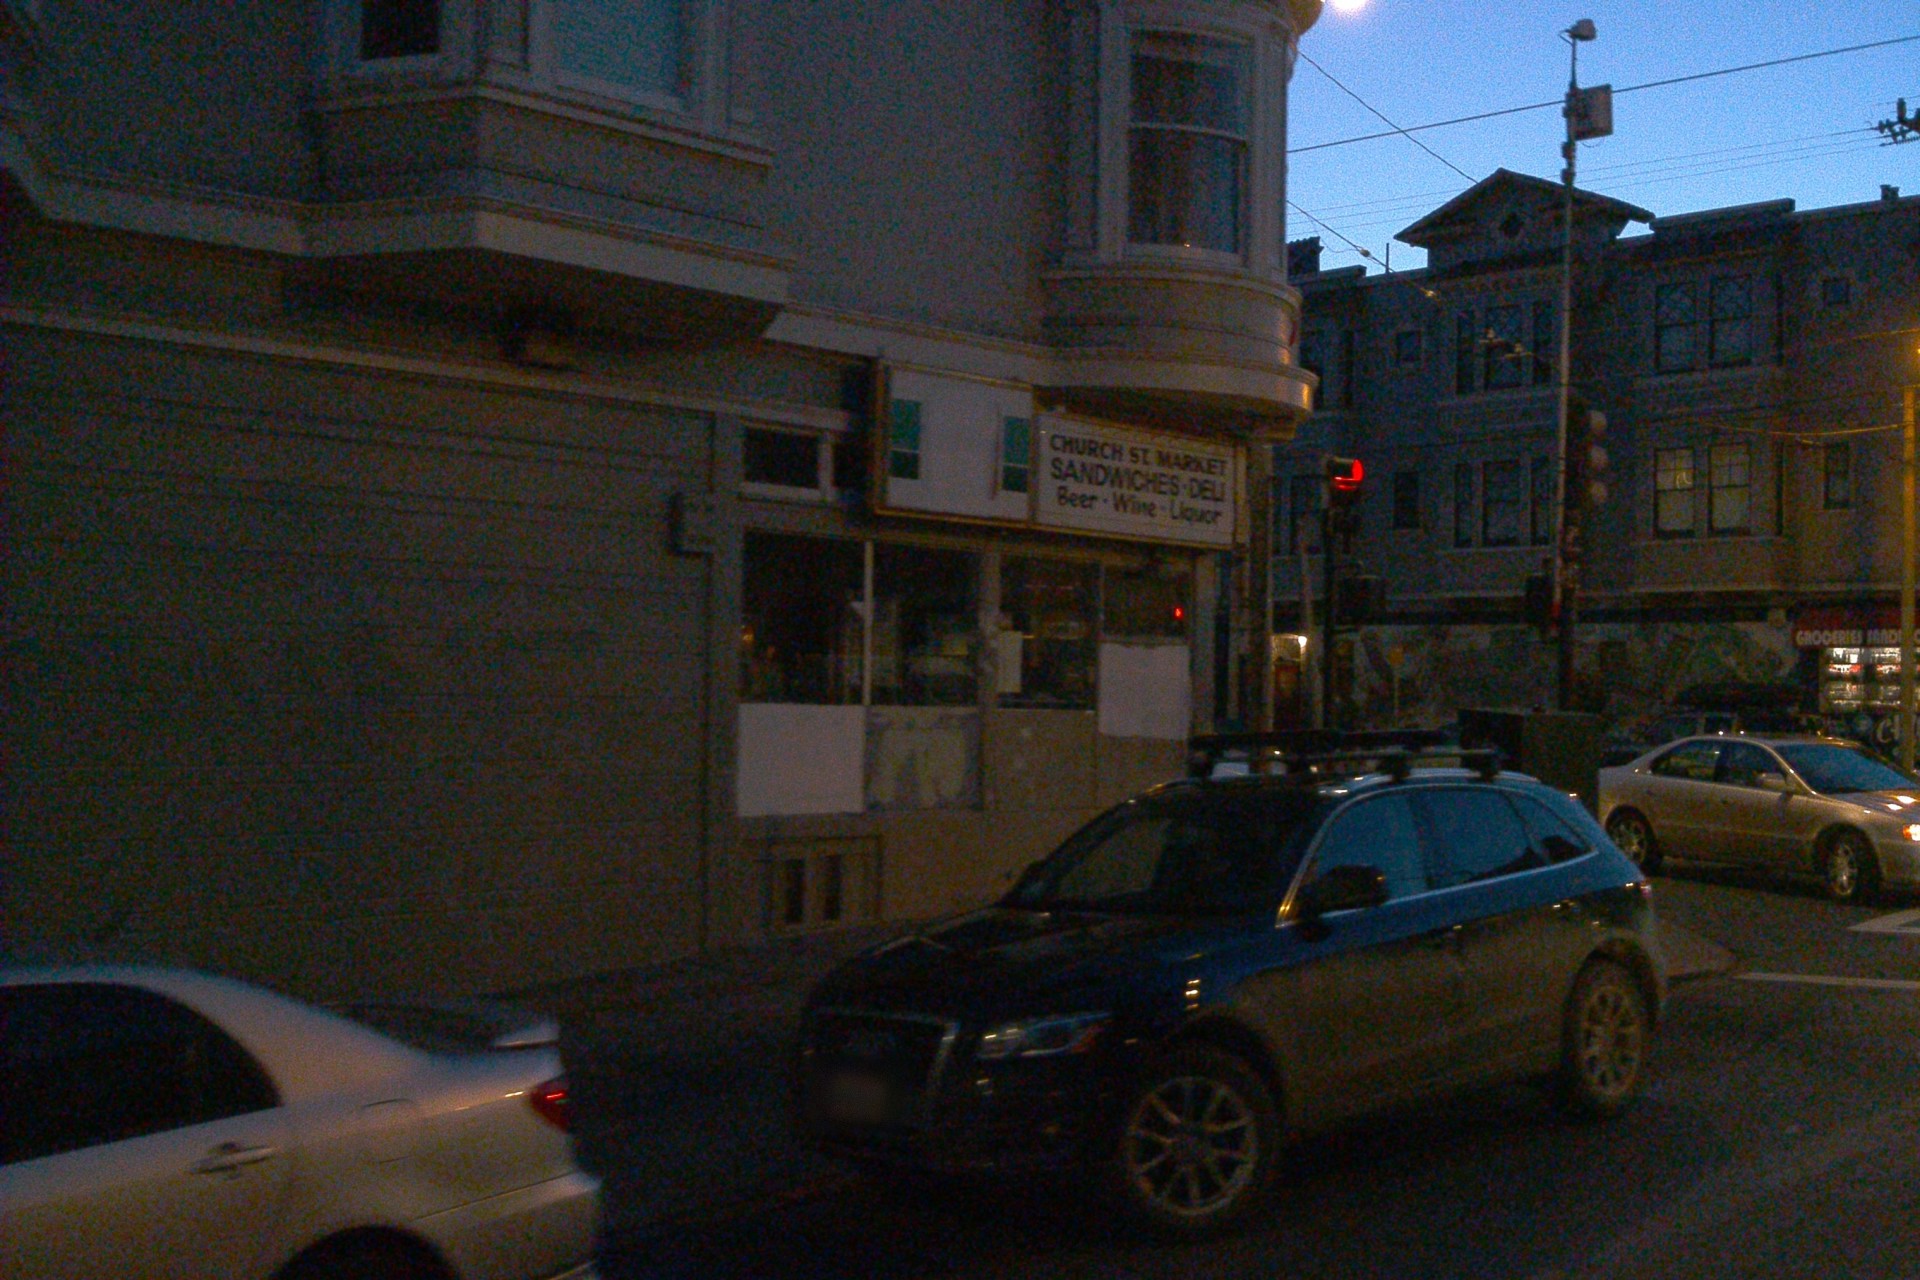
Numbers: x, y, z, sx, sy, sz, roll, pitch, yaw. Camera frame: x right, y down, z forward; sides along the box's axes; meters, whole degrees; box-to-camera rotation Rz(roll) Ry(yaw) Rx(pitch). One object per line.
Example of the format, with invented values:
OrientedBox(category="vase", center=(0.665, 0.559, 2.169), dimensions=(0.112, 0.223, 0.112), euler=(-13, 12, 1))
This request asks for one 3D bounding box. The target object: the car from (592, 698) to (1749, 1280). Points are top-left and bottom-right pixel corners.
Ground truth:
OrientedBox(category="car", center=(1.144, 1.329, 8.889), dimensions=(4.938, 1.930, 2.228), euler=(-1, 1, -43))

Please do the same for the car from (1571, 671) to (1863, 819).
OrientedBox(category="car", center=(13.141, 1.749, 36.017), dimensions=(2.036, 2.260, 4.341), euler=(-1, 1, -42))
